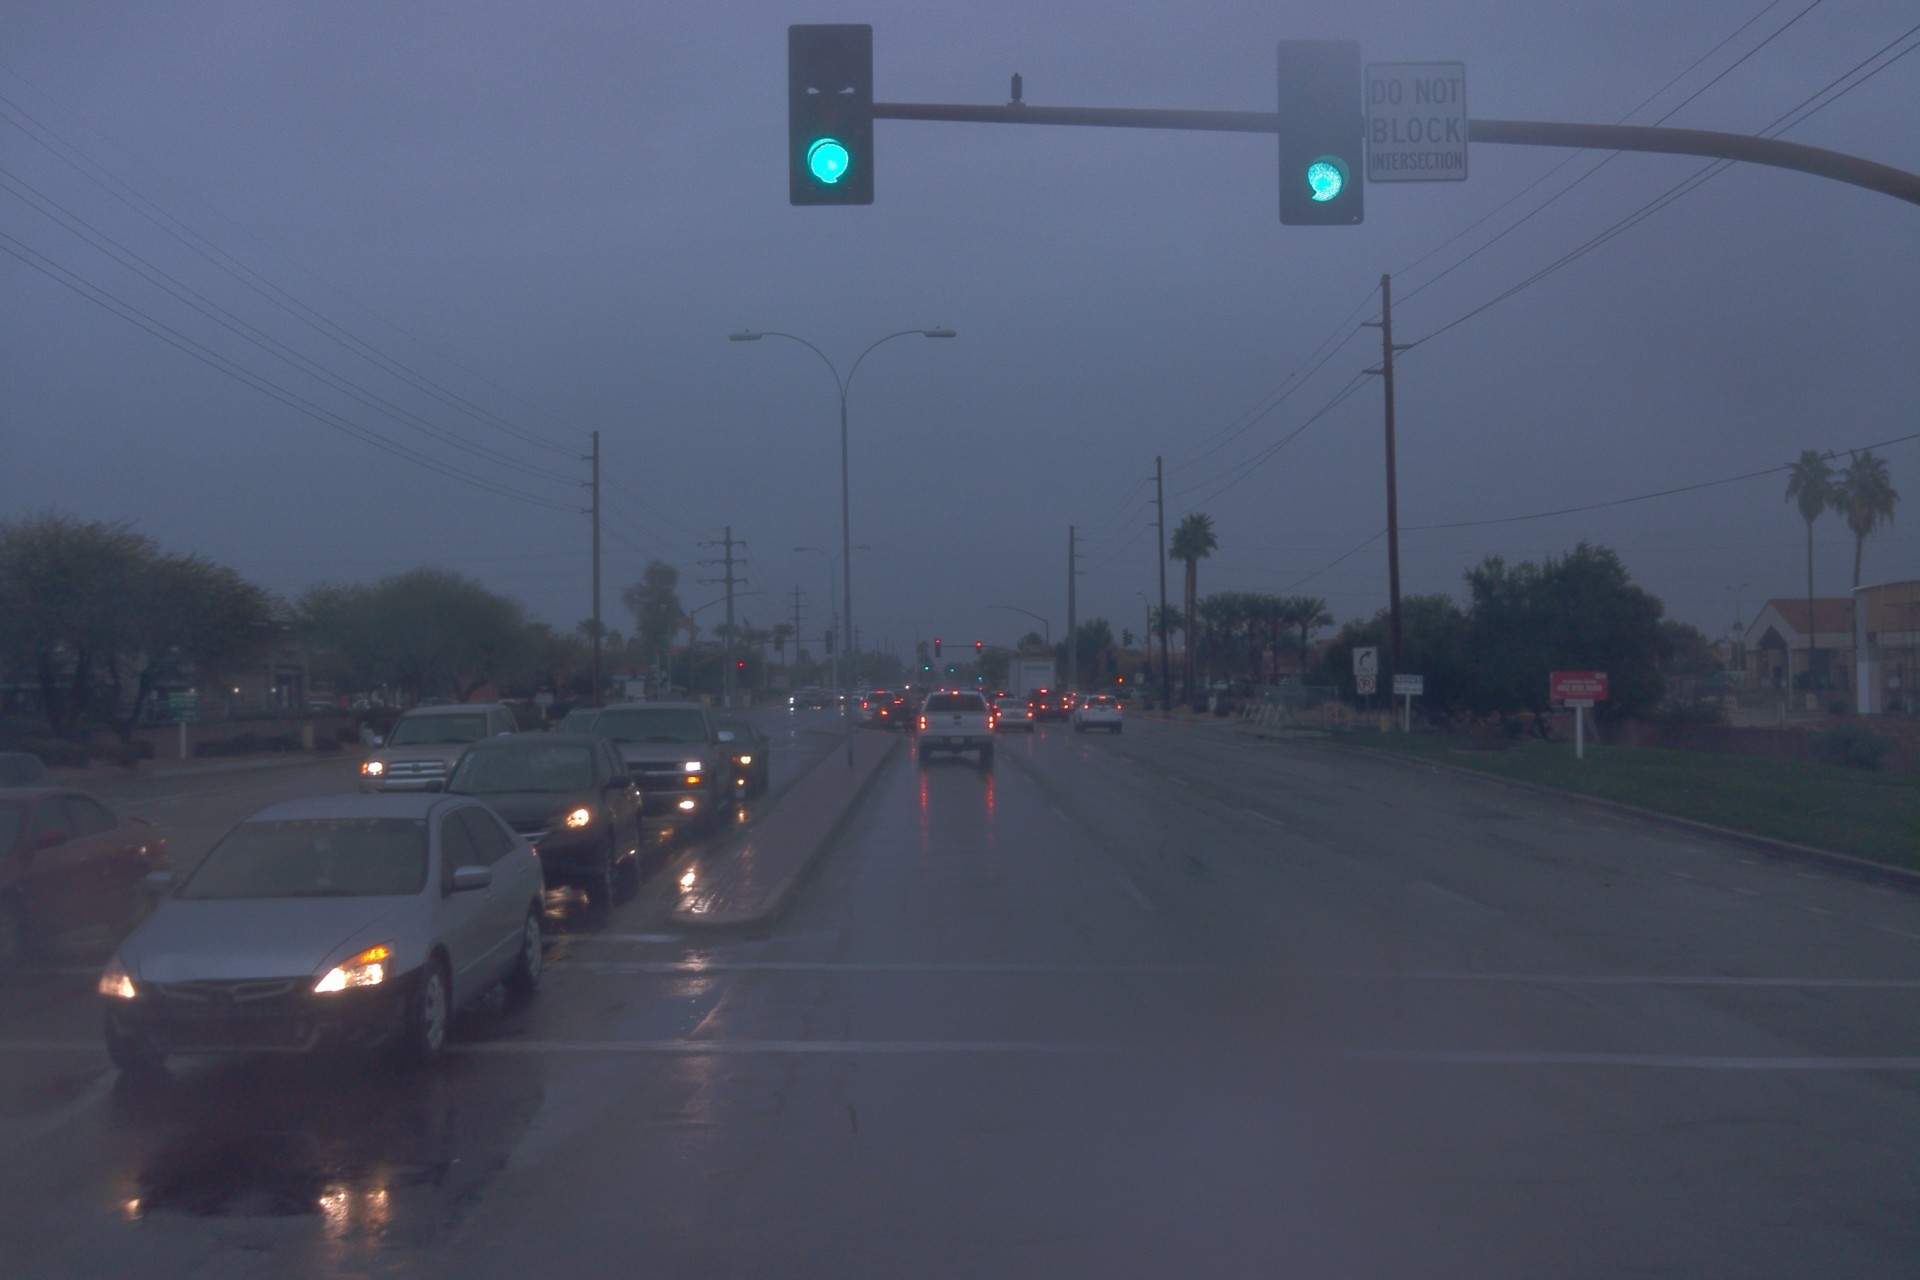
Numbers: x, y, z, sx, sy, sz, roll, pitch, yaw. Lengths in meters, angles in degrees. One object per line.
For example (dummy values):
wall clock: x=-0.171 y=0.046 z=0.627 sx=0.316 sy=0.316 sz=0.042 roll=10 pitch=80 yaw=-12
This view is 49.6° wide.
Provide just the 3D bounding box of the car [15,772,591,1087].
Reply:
car: x=-3.789 y=1.633 z=12.985 sx=2.102 sy=1.410 sz=4.605 roll=0 pitch=-1 yaw=1

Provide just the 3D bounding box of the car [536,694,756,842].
car: x=-4.448 y=1.772 z=30.485 sx=2.507 sy=1.910 sz=5.860 roll=0 pitch=-1 yaw=-2

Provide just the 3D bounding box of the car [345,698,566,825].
car: x=-8.233 y=1.930 z=34.524 sx=2.273 sy=1.880 sz=5.737 roll=0 pitch=-1 yaw=0

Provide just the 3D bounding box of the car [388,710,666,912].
car: x=-4.325 y=1.656 z=21.467 sx=2.068 sy=1.790 sz=4.473 roll=0 pitch=-1 yaw=-2
